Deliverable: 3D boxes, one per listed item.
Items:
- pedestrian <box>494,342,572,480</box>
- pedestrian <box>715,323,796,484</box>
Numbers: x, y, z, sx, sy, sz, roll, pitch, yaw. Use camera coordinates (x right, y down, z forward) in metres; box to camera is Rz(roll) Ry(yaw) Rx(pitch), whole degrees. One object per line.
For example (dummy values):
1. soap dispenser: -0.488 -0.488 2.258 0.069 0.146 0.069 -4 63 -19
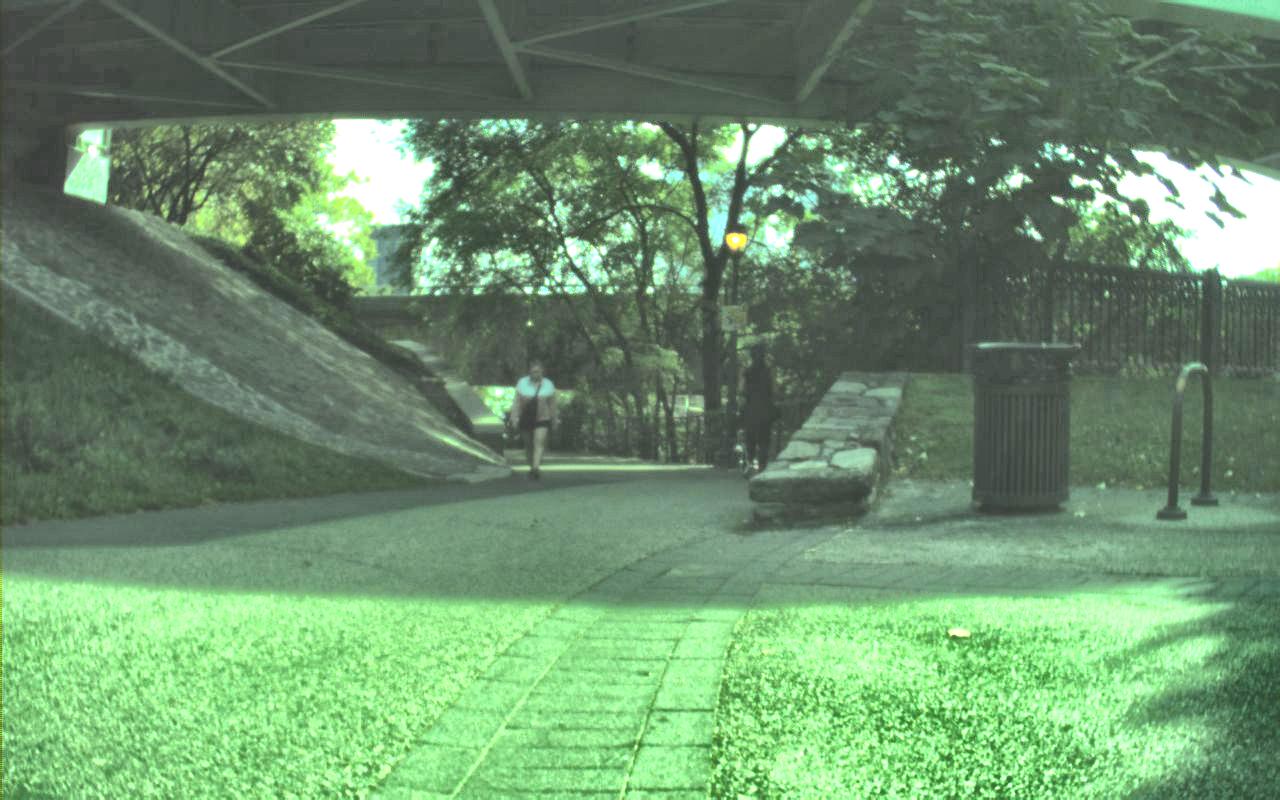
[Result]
1. pedestrian: -1.333 0.125 15.806 0.858 1.666 0.912 0 0 2
2. pedestrian: 1.348 0.031 14.606 0.893 1.799 0.994 0 0 6
